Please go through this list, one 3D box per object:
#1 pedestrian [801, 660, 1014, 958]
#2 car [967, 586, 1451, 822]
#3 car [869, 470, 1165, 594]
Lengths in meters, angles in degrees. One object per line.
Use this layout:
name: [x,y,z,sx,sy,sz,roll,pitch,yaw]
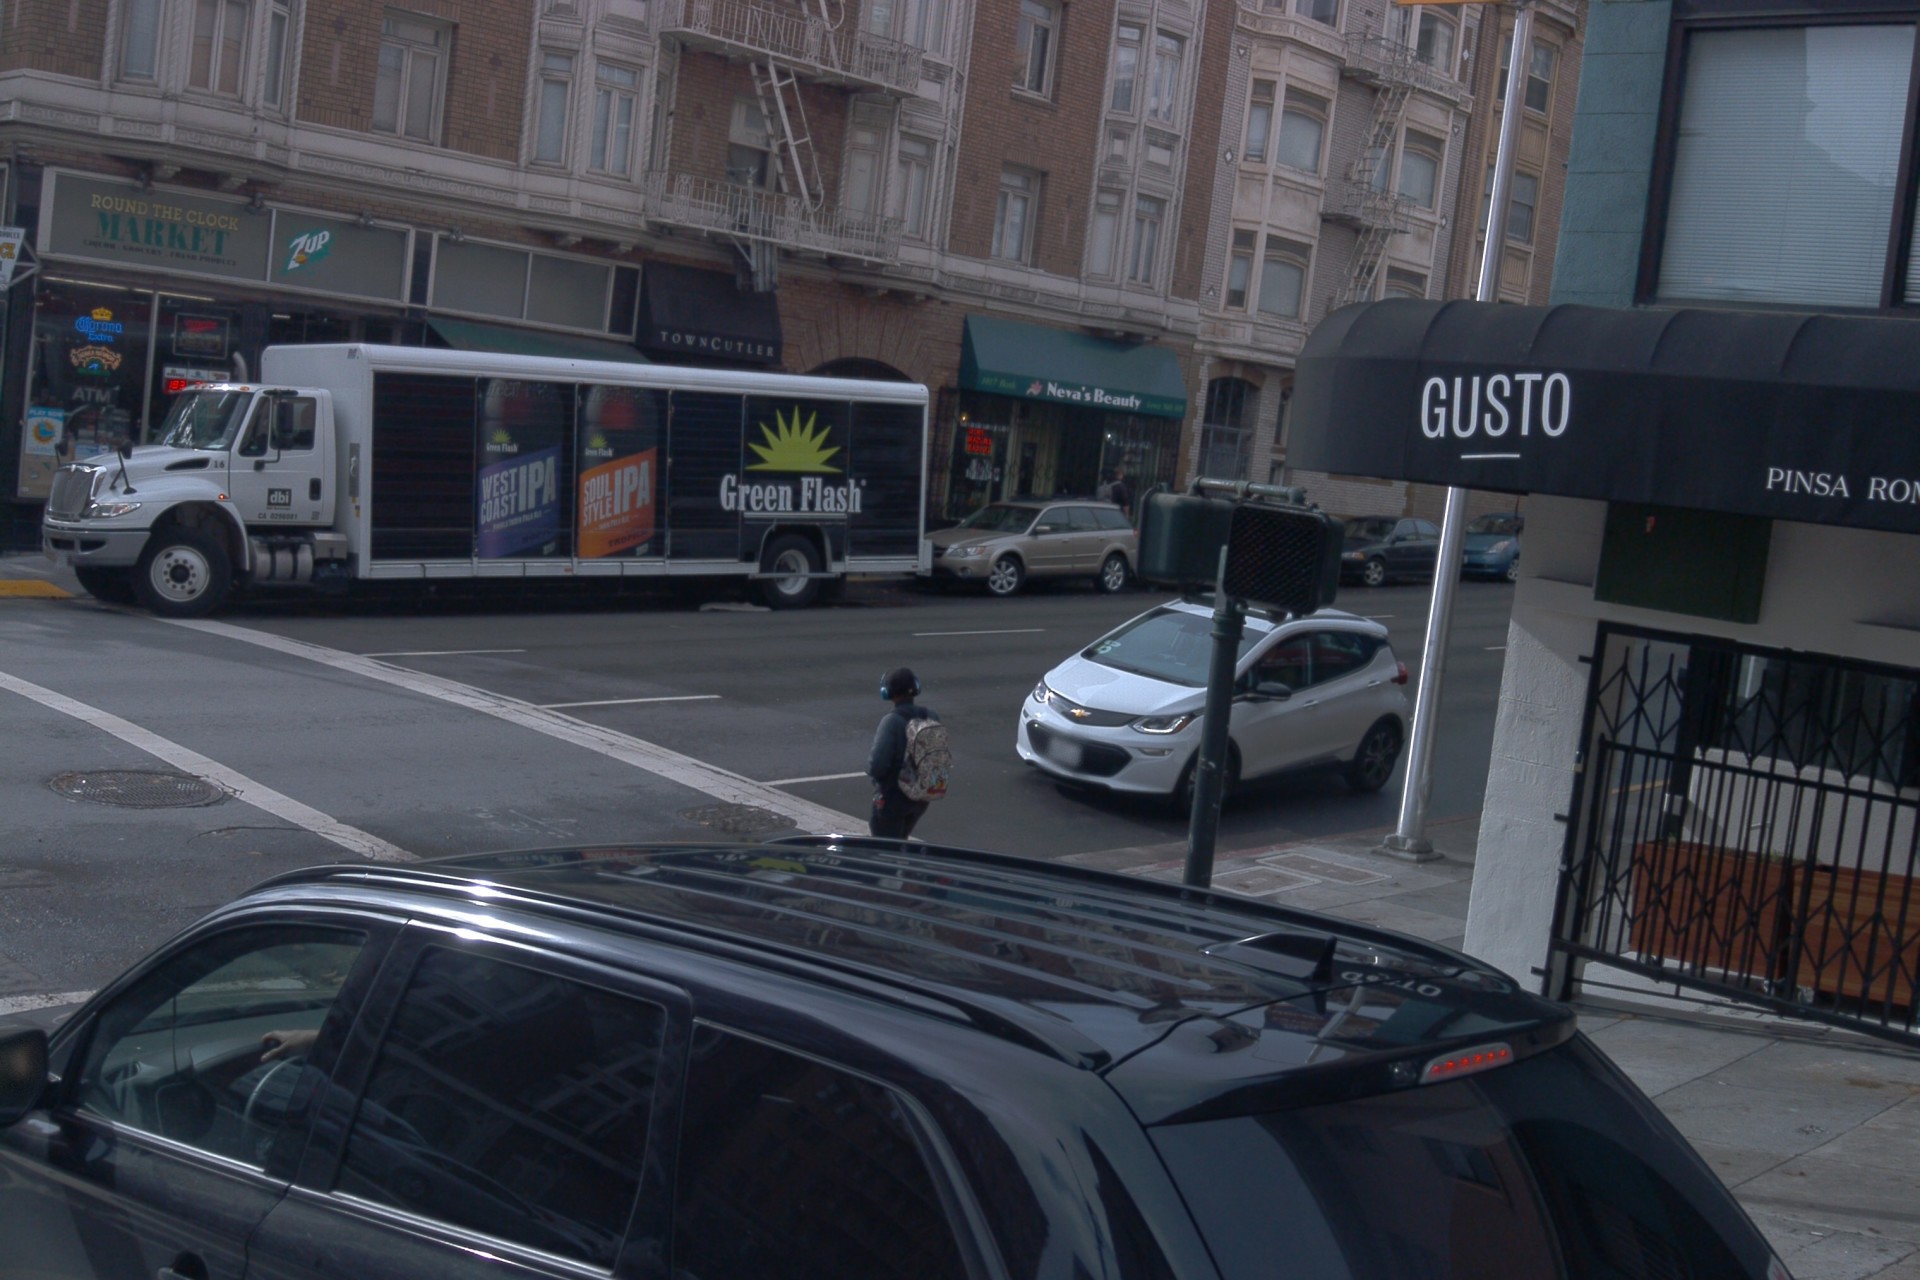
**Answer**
pedestrian: [-0.300,0.922,11.753,0.929,1.590,0.750,2,1,43]
car: [2.266,0.475,17.870,2.062,1.780,4.279,2,1,42]
car: [1.008,-1.687,33.637,2.182,1.770,4.833,2,1,42]
